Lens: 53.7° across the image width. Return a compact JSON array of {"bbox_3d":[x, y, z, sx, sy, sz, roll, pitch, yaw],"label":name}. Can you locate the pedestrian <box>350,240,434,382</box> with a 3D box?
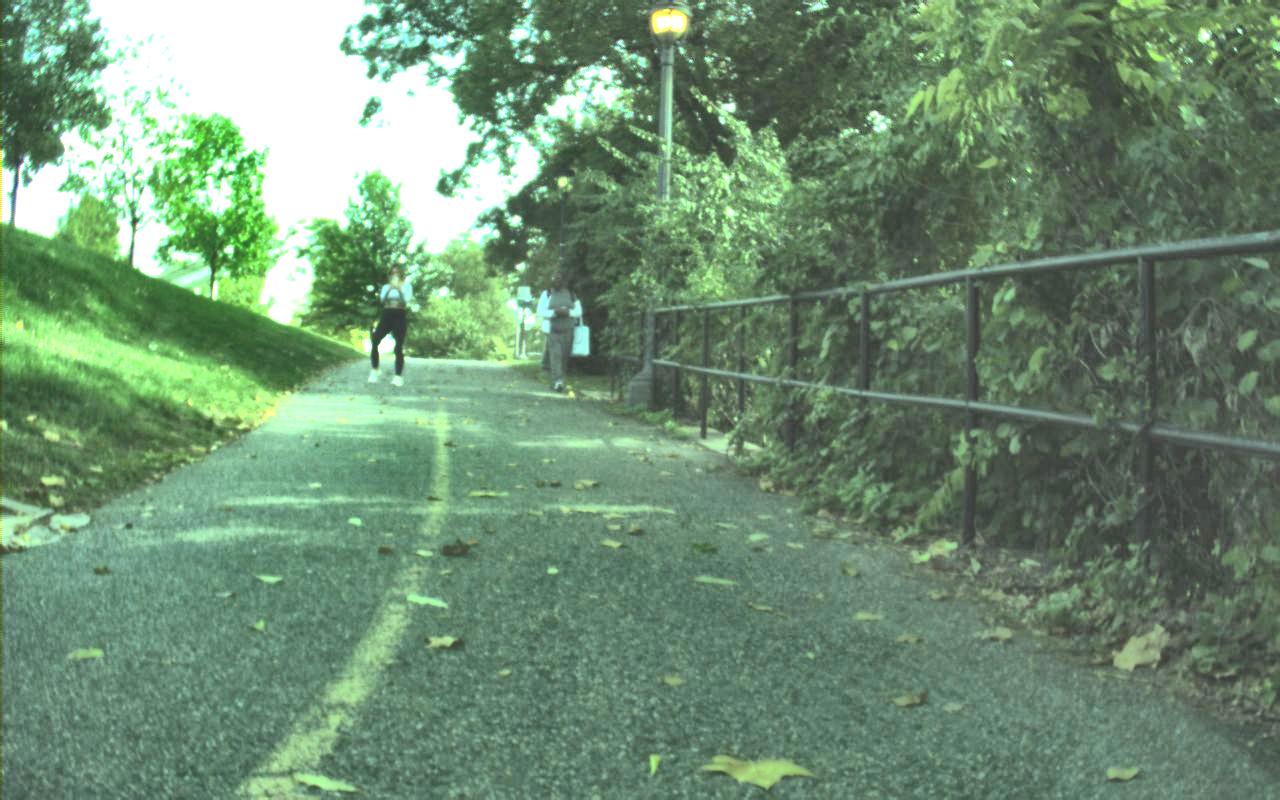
[{"bbox_3d":[-3.246,-1.141,16.272,0.789,1.804,0.818,1,0,18],"label":"pedestrian"}]

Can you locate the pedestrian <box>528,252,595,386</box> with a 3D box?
[{"bbox_3d":[-1.092,-1.094,17.306,0.794,1.778,0.788,0,0,-13],"label":"pedestrian"}]
